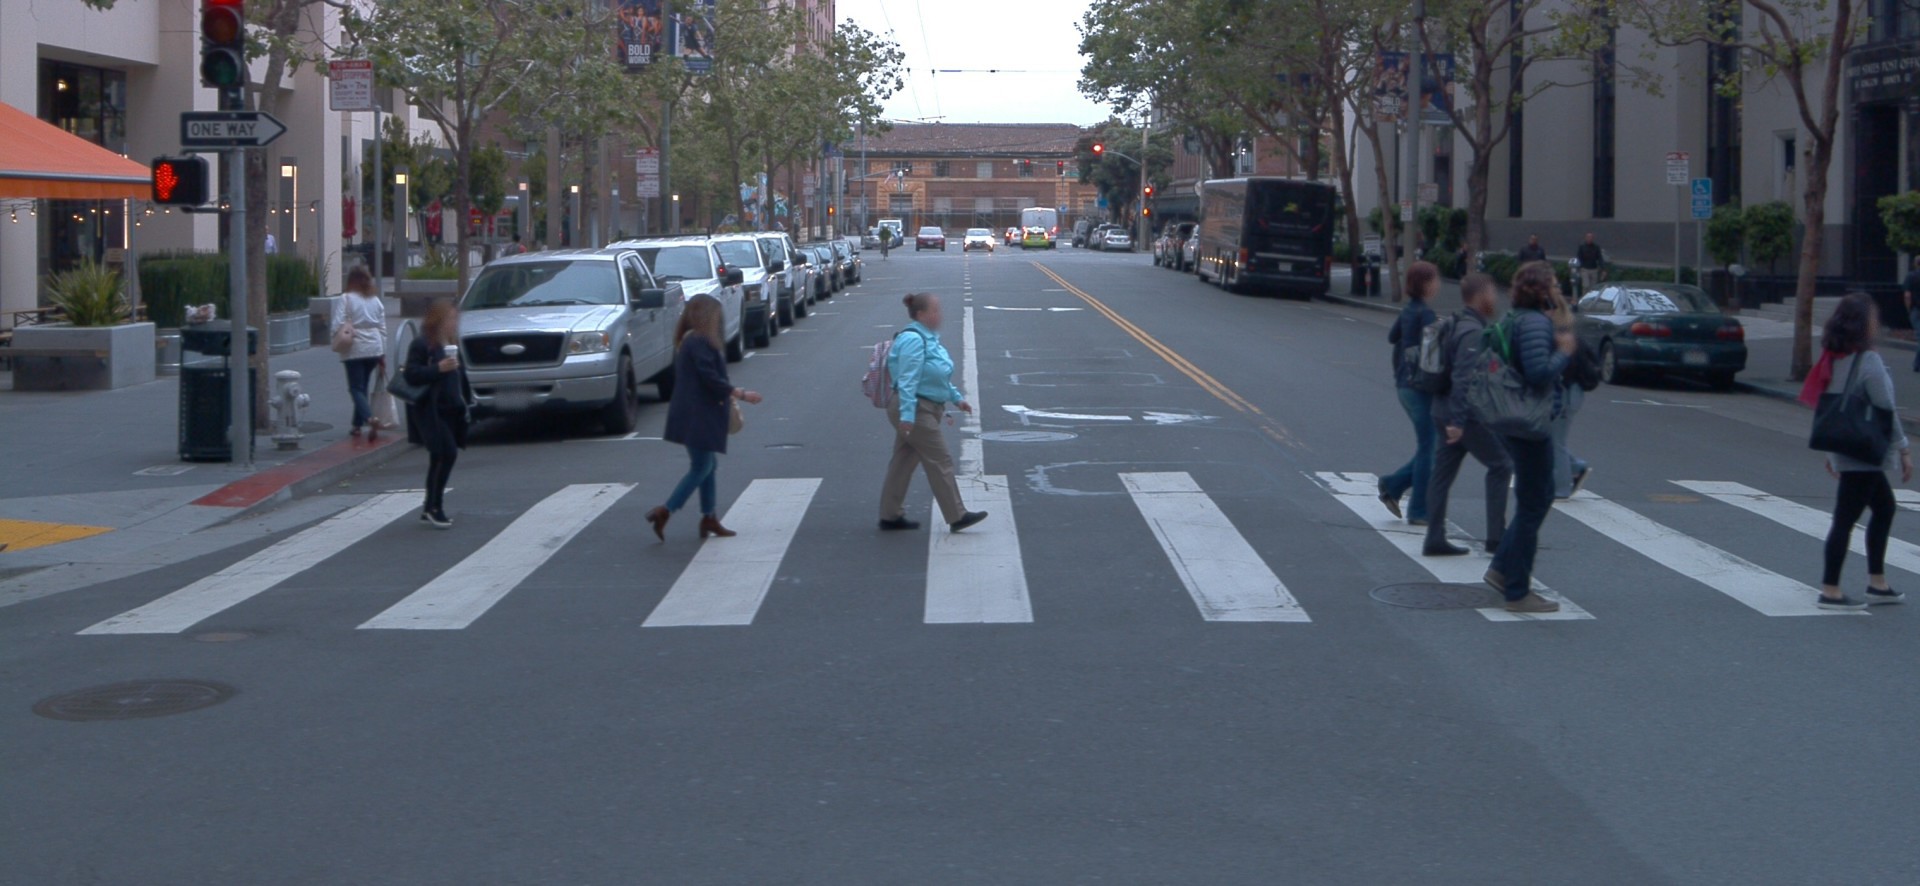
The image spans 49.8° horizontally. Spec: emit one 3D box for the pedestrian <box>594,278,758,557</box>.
[{"bbox_3d":[-1.897,-0.207,13.749,0.889,1.737,0.888,-1,2,-20],"label":"pedestrian"}]

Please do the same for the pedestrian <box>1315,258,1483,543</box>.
[{"bbox_3d":[2.963,-0.313,14.033,0.970,1.852,0.832,0,2,2],"label":"pedestrian"}]

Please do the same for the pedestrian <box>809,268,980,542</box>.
[{"bbox_3d":[-0.430,-0.284,13.972,1.011,1.763,0.834,0,2,8],"label":"pedestrian"}]

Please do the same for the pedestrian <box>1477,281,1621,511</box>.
[{"bbox_3d":[4.385,-0.366,15.423,0.891,1.643,0.739,0,2,4],"label":"pedestrian"}]

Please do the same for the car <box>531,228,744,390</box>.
[{"bbox_3d":[-4.436,-2.012,29.344,2.304,2.009,5.371,-1,6,-1],"label":"car"}]

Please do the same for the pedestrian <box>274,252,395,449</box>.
[{"bbox_3d":[-5.987,-0.916,19.765,0.809,1.796,0.940,-2,3,-37],"label":"pedestrian"}]

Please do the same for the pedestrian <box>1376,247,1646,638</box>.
[{"bbox_3d":[2.918,-0.045,11.029,1.164,1.965,0.847,-1,2,-5],"label":"pedestrian"}]

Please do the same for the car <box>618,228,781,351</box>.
[{"bbox_3d":[-4.398,-2.737,35.762,2.290,1.870,5.504,-1,6,-2],"label":"car"}]

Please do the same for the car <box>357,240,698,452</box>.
[{"bbox_3d":[-4.556,-1.231,22.963,2.495,1.929,6.060,-1,6,0],"label":"car"}]

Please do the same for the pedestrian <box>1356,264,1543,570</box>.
[{"bbox_3d":[3.020,-0.195,12.841,0.940,1.805,0.855,-1,2,-1],"label":"pedestrian"}]

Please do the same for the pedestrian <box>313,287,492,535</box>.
[{"bbox_3d":[-3.972,-0.259,14.745,0.992,1.677,0.692,1,2,23],"label":"pedestrian"}]

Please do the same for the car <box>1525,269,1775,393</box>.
[{"bbox_3d":[9.779,-1.674,29.708,2.011,1.472,4.719,-1,6,0],"label":"car"}]
